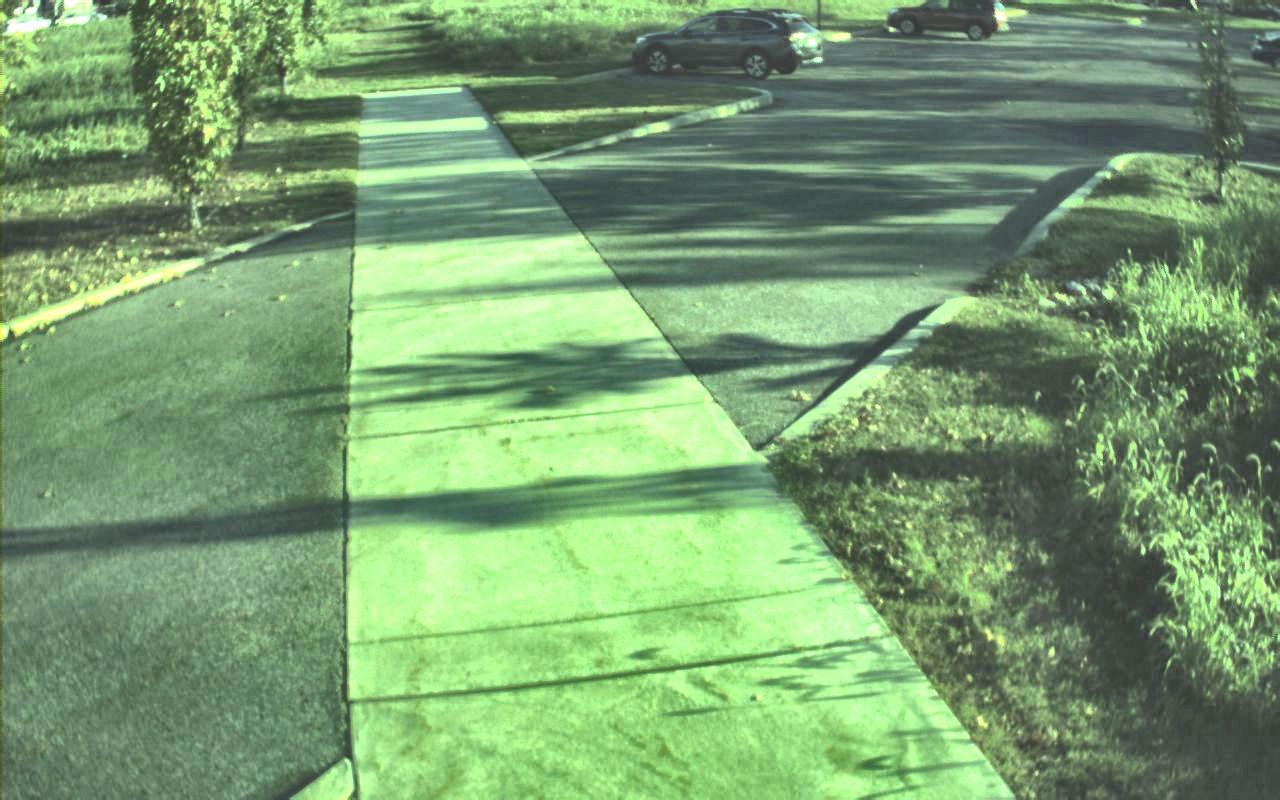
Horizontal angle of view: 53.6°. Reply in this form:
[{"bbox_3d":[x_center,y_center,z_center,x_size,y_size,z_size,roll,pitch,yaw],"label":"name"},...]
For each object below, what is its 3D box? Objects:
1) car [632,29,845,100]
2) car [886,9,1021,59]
[{"bbox_3d":[2.402,-8.273,30.370,4.853,1.664,2.051,8,18,31],"label":"car"},{"bbox_3d":[11.833,-13.737,45.018,4.812,1.729,2.062,7,17,27],"label":"car"}]
